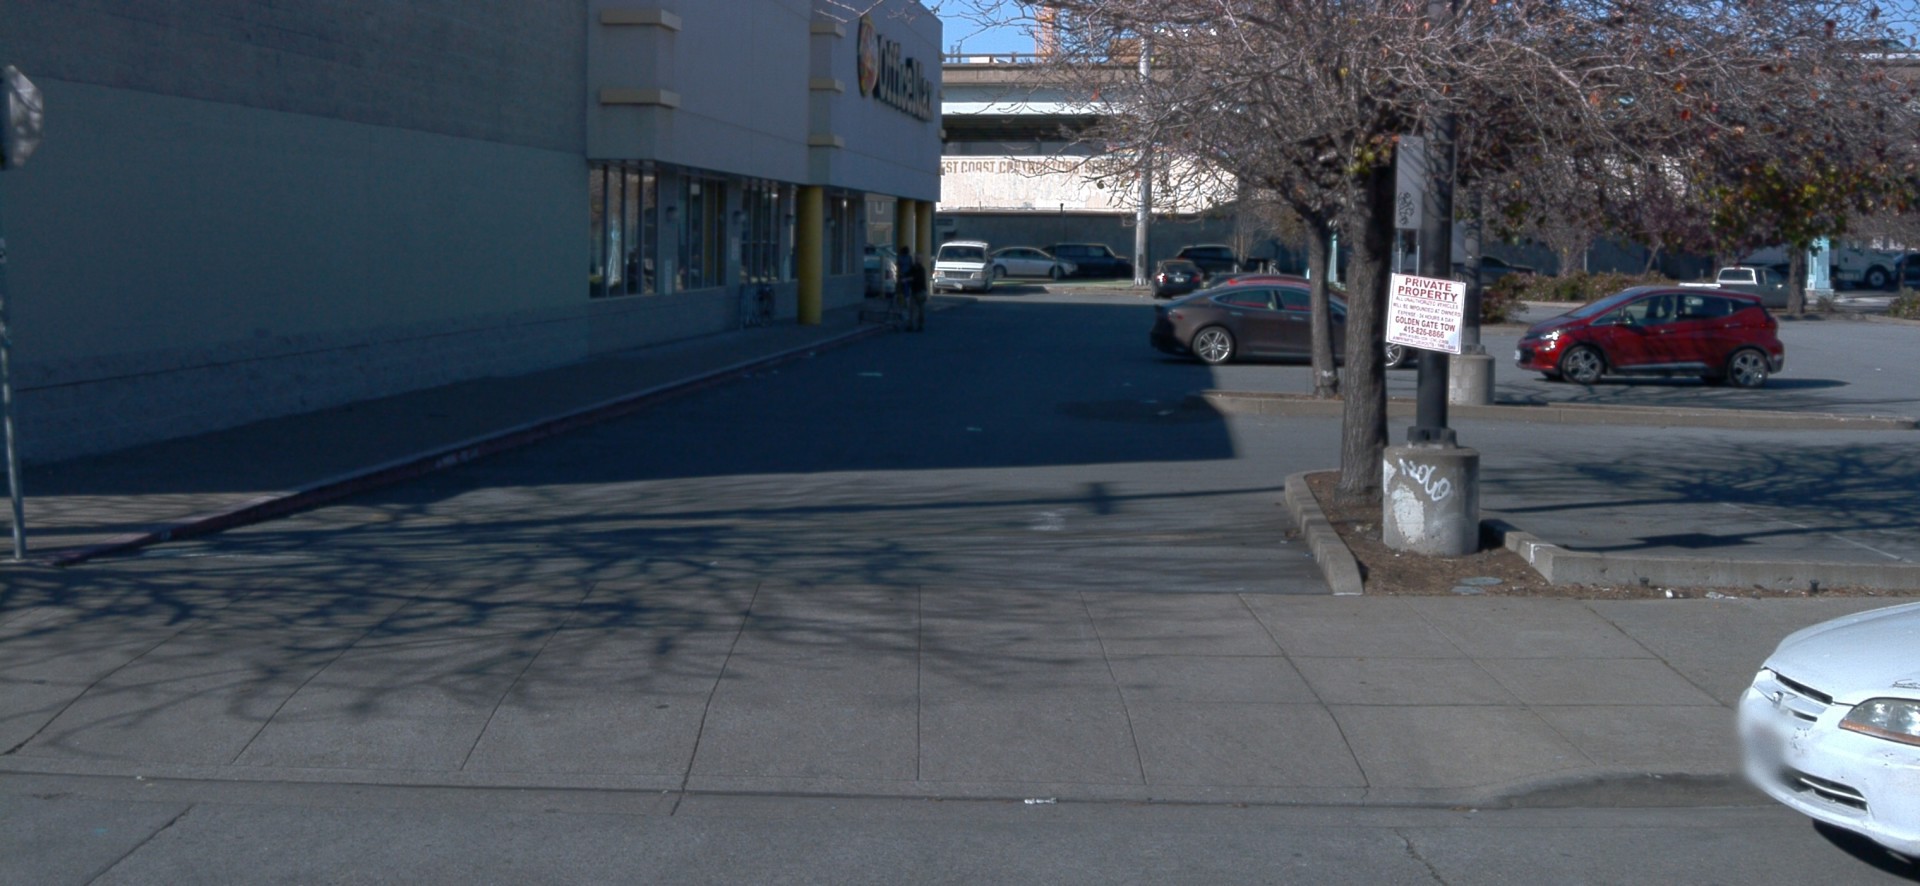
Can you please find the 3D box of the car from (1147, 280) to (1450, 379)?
[{"bbox_3d":[5.822,-2.014,35.912,5.044,1.525,1.995,1,4,4],"label":"car"}]

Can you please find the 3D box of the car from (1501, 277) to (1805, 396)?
[{"bbox_3d":[10.971,-1.730,32.796,4.156,1.695,2.038,1,4,1],"label":"car"}]
